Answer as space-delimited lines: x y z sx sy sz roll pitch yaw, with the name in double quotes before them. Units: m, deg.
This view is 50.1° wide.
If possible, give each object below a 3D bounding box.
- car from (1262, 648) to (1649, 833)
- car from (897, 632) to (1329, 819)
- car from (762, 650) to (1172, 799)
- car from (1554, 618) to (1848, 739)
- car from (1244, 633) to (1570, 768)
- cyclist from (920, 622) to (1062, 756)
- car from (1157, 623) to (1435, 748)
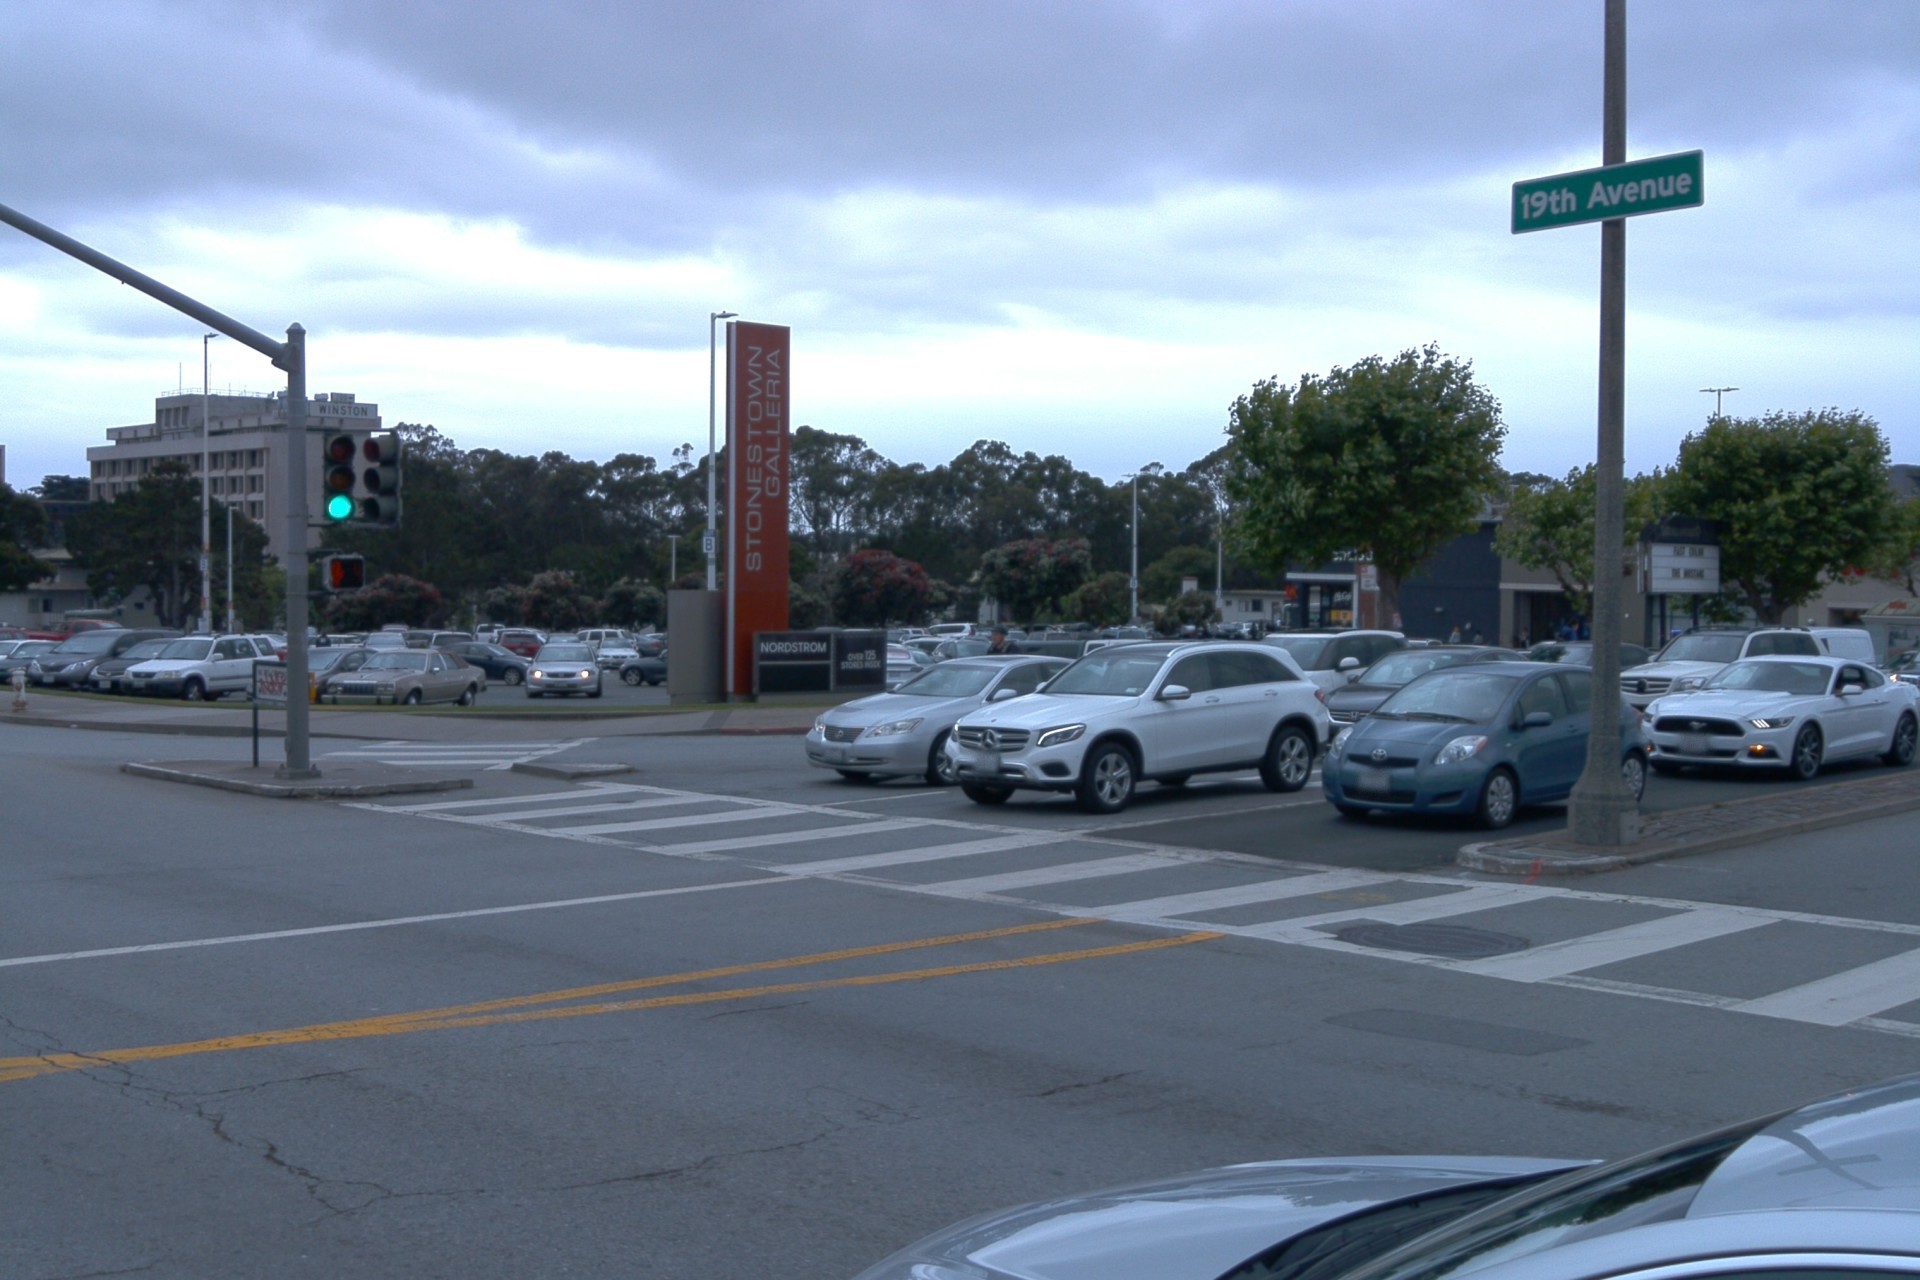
"car" 4.977 0.902 20.400 3.859 1.590 2.001 -1 1 -45
"car" 1.725 0.810 22.126 4.518 1.770 2.128 -1 1 -43
"car" 0.165 0.941 24.983 4.768 1.550 2.139 -1 1 -42
"car" 11.755 0.548 32.529 4.546 1.780 2.201 -1 1 -36
"car" 6.057 0.725 27.471 2.338 1.600 4.725 0 1 40
"cyclist" 0.443 0.655 28.807 1.880 1.800 0.871 -1 0 -42
"car" 5.013 0.607 30.361 2.037 1.690 4.125 0 1 44
